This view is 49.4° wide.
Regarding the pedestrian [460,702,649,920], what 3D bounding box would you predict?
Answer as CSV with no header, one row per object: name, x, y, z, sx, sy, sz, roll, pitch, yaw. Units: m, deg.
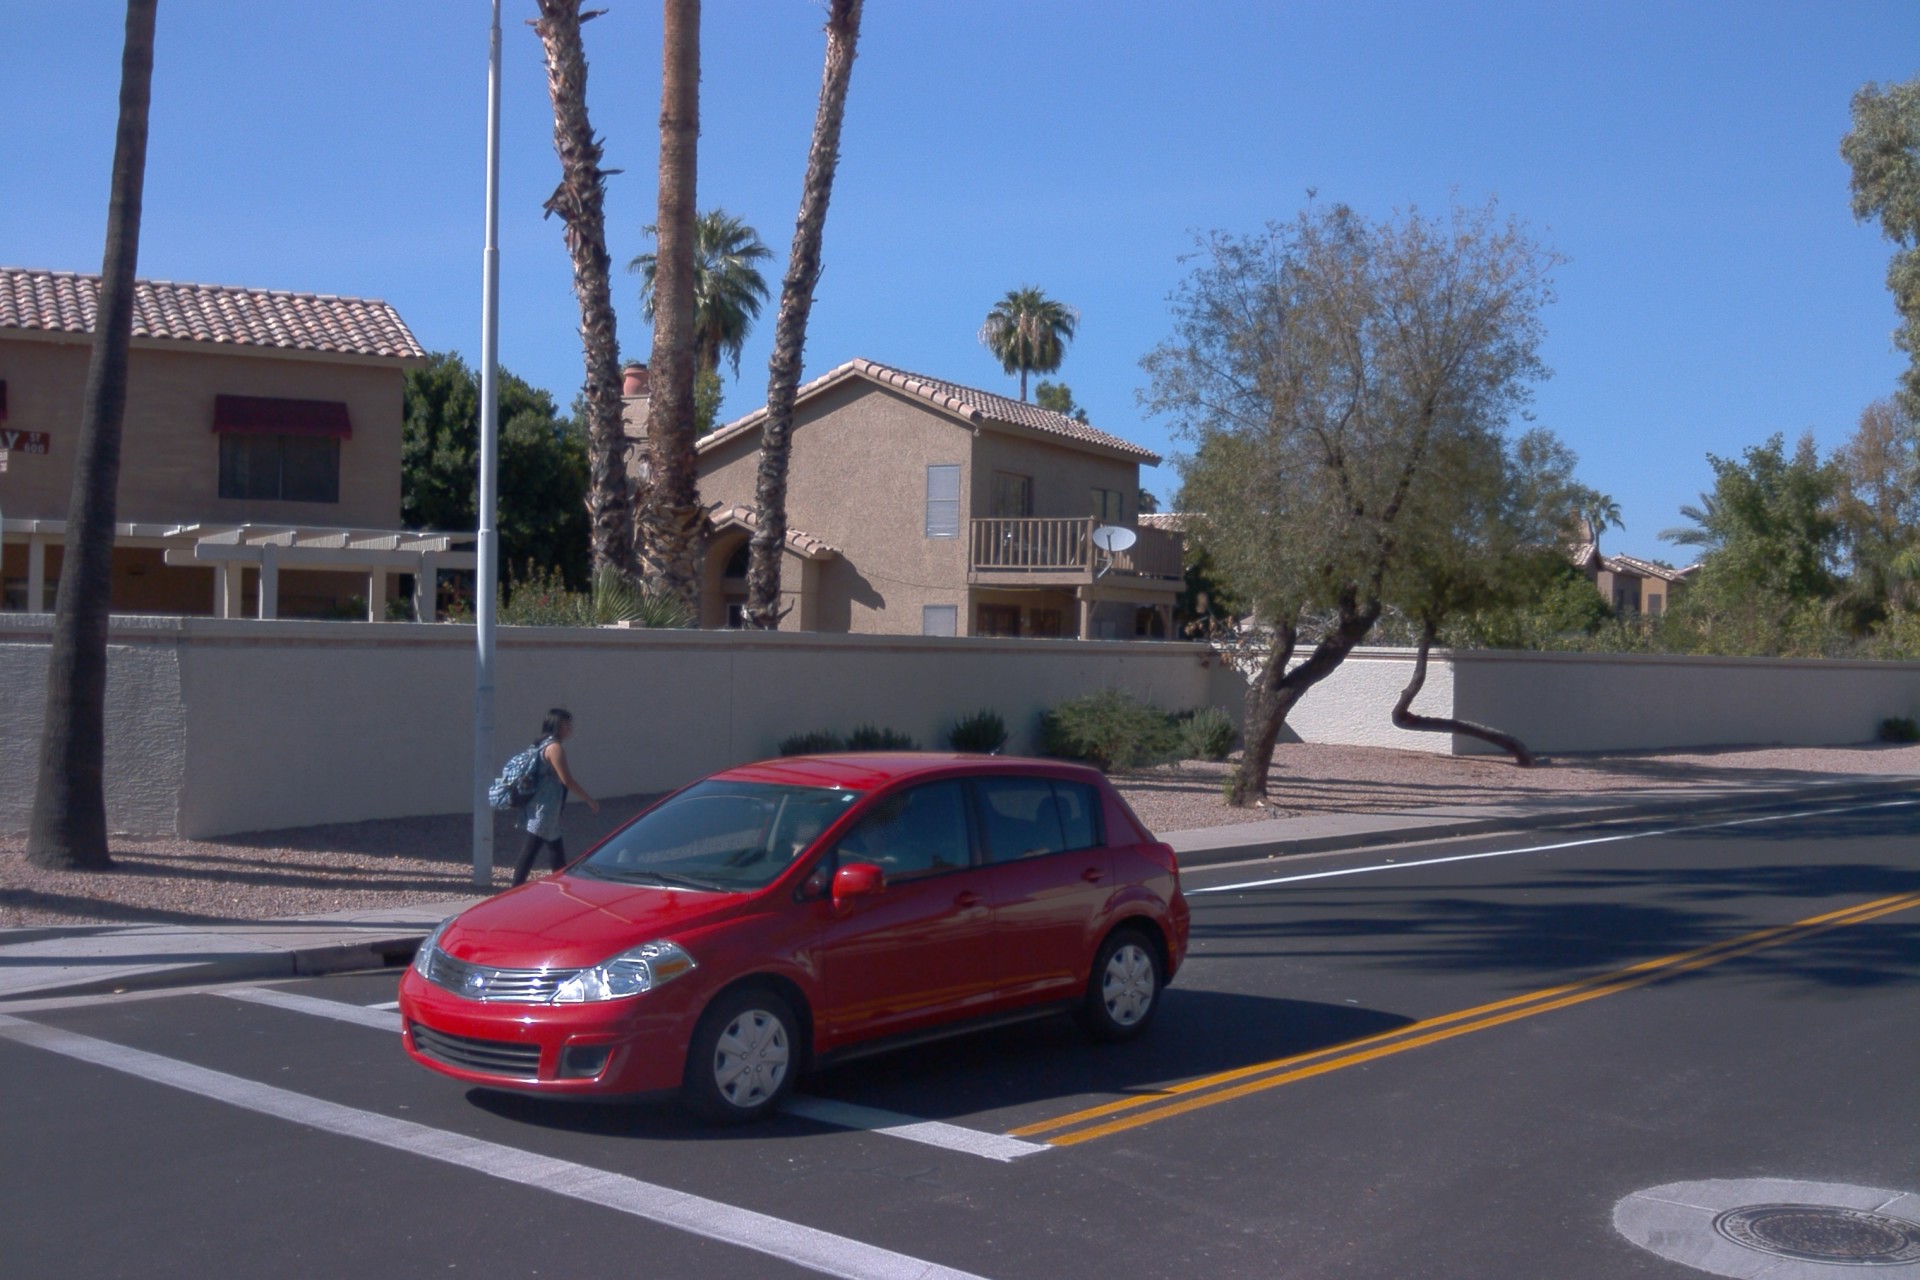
pedestrian,-3.085,1.267,15.904,1.004,1.560,0.996,0,-1,41

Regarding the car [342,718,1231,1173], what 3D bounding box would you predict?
car,-0.671,1.282,10.406,1.946,1.680,4.211,0,-1,42
